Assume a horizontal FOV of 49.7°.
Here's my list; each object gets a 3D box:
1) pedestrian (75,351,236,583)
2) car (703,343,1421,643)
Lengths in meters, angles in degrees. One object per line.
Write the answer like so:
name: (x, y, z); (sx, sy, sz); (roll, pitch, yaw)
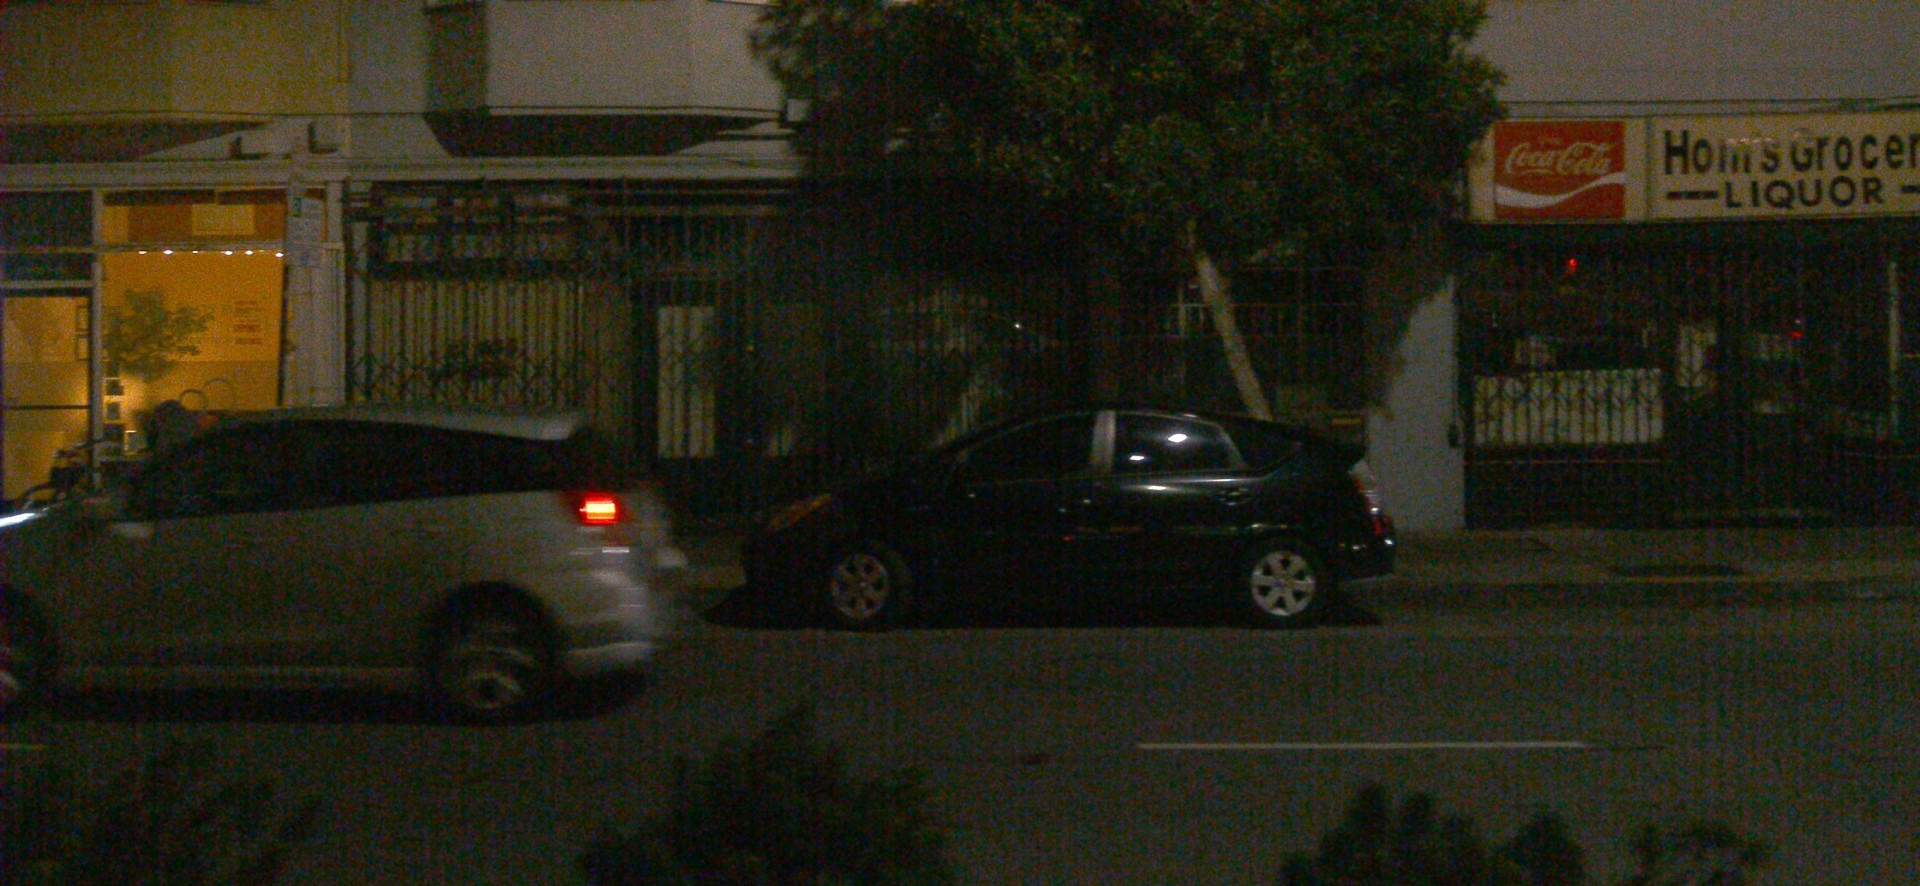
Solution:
pedestrian: (-5.967, 0.151, 15.408); (0.899, 1.608, 0.935); (0, 2, -6)
car: (0.634, 0.273, 14.155); (4.570, 1.776, 1.947); (0, 4, -2)
